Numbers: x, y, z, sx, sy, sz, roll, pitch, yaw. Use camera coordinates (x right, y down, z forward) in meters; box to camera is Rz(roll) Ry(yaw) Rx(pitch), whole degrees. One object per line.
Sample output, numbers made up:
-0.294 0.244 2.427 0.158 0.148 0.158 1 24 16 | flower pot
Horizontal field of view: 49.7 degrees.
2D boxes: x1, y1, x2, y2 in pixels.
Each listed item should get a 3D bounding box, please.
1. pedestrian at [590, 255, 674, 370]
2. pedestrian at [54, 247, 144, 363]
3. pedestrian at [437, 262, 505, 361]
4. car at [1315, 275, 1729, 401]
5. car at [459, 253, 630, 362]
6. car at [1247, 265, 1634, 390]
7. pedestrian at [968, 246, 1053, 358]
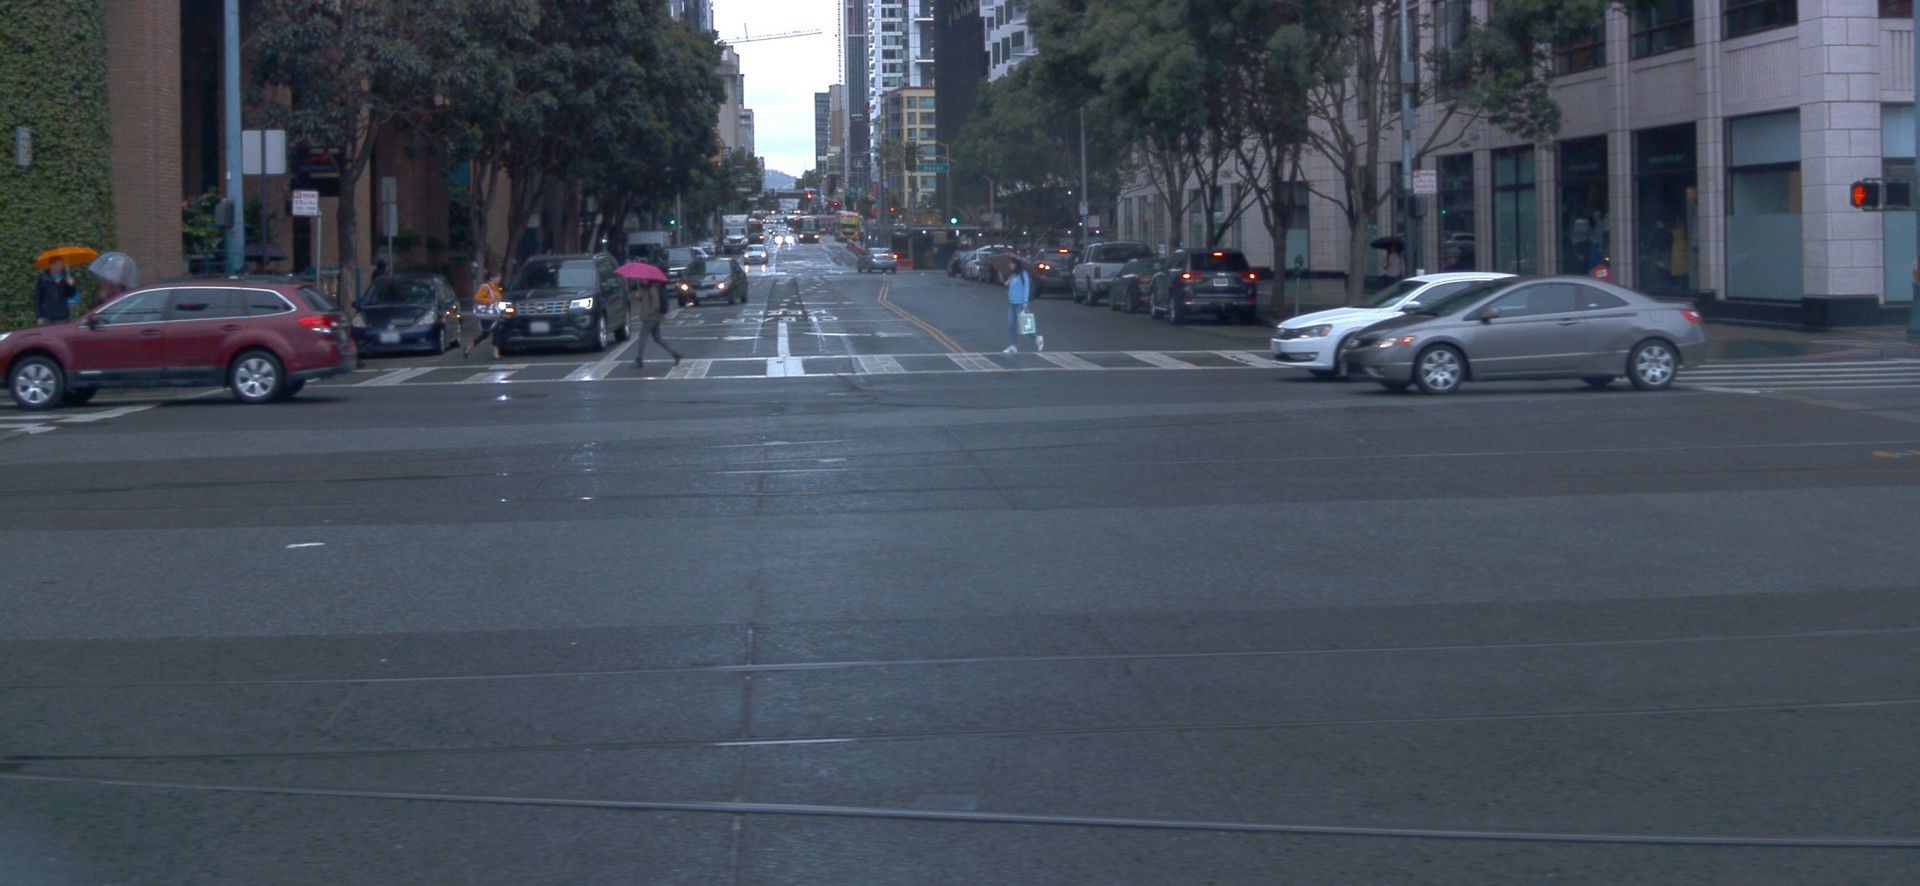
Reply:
-5.309 -2.126 33.550 1.186 1.799 1.003 0 2 -20 | pedestrian
-13.851 -2.236 33.376 0.964 1.809 0.923 1 1 19 | pedestrian
-8.529 -2.303 36.204 0.953 1.689 0.922 0 1 1 | pedestrian
6.618 -1.288 24.692 4.359 1.377 1.942 -1 4 -7 | car
-7.761 -2.633 39.261 2.294 1.862 4.905 0 5 -1 | car
6.466 -1.609 28.242 4.721 1.576 2.056 0 4 -6 | car
0.859 -2.443 35.679 1.070 1.869 1.089 -1 2 -28 | pedestrian
